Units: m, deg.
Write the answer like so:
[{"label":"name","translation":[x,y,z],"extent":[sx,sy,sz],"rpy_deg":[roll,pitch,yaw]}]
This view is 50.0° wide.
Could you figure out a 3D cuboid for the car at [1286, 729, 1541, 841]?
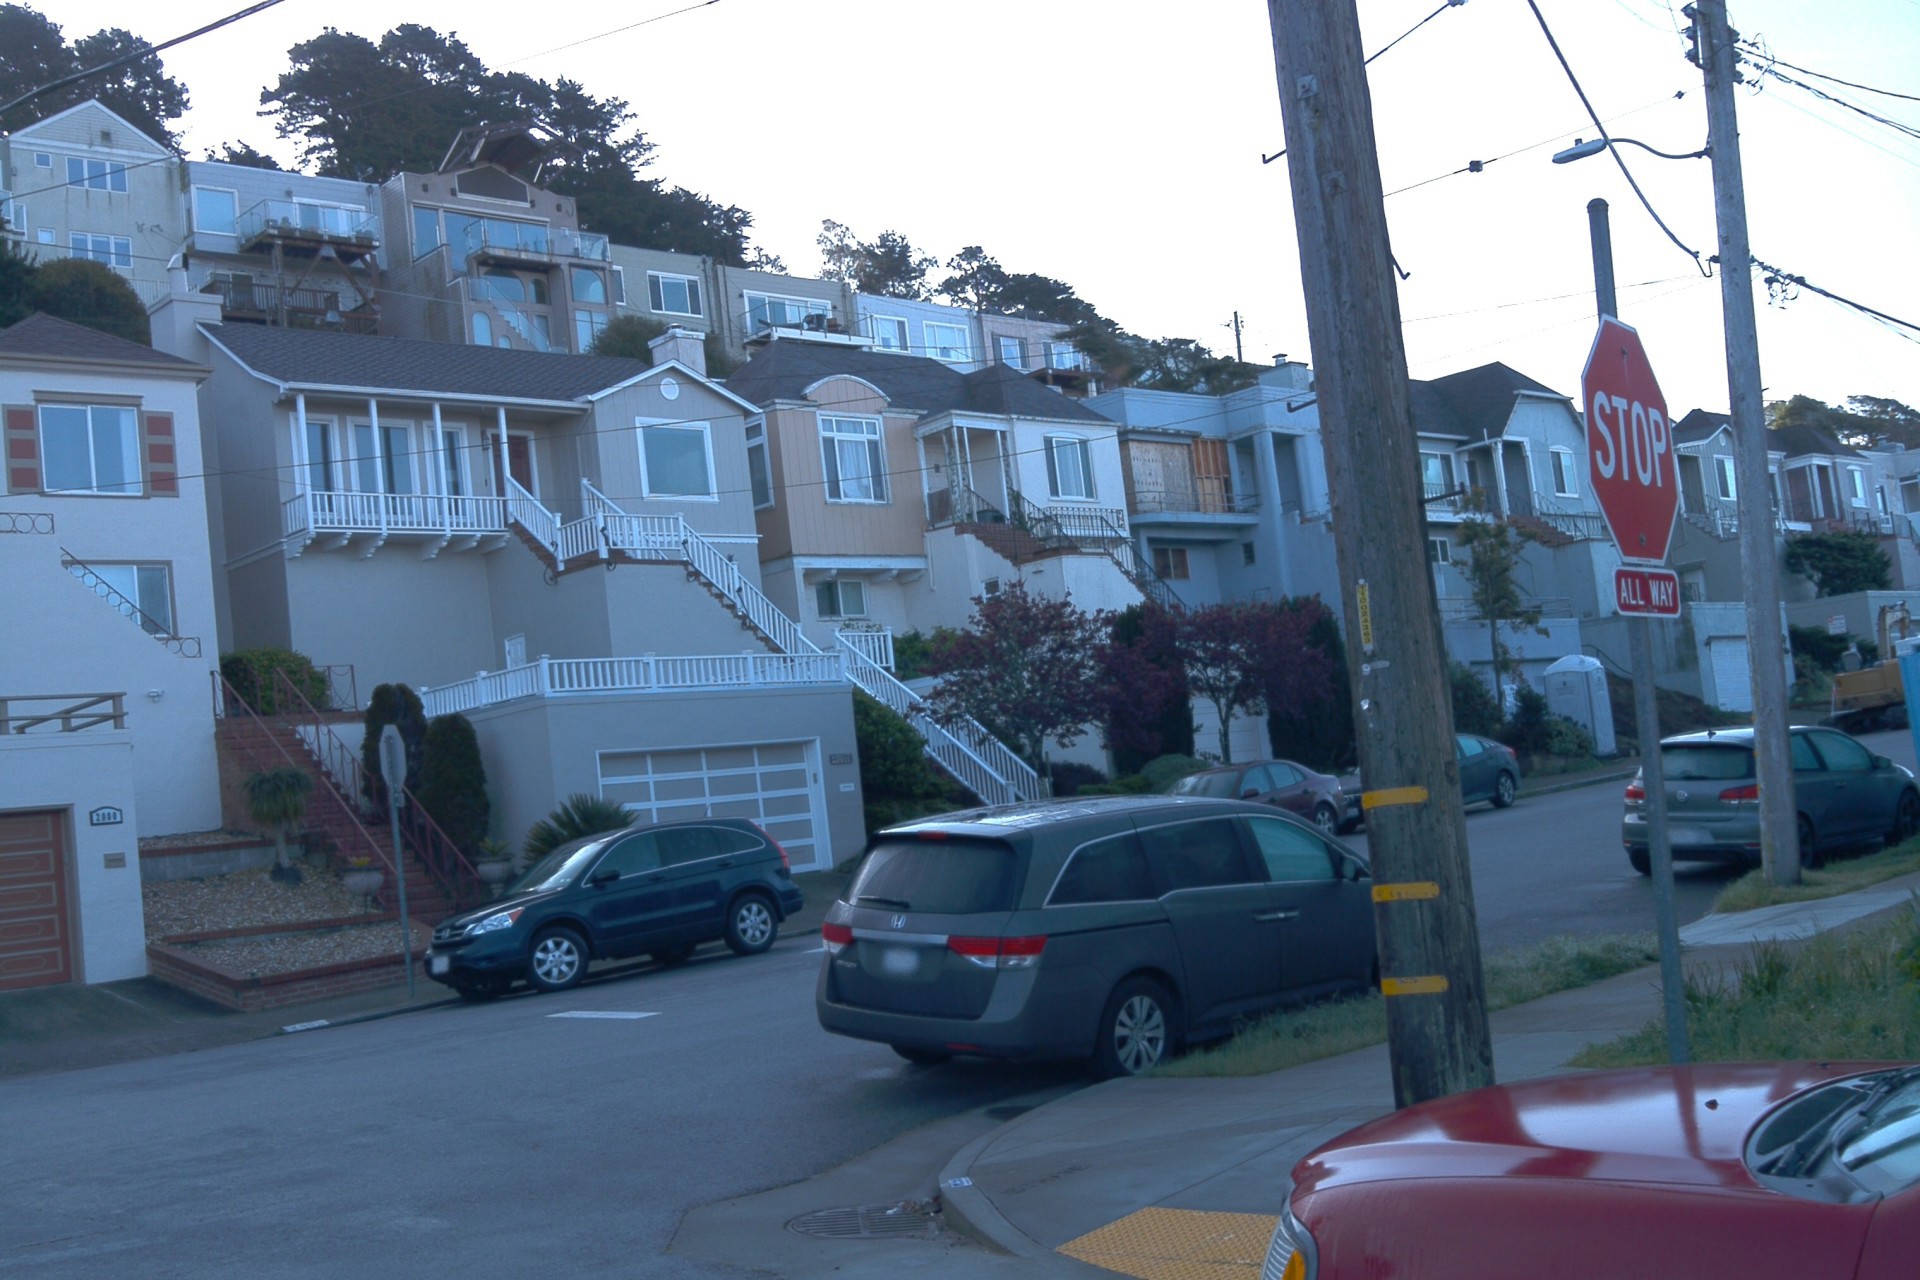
[{"label":"car","translation":[7.812,2.411,35.152],"extent":[2.163,1.560,4.754],"rpy_deg":[0,0,42]}]

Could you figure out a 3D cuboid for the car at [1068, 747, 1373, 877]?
[{"label":"car","translation":[4.018,2.526,31.185],"extent":[2.151,1.560,4.797],"rpy_deg":[0,0,43]}]

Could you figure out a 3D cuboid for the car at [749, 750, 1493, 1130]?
[{"label":"car","translation":[1.307,1.835,14.304],"extent":[2.390,1.860,5.188],"rpy_deg":[0,0,44]}]

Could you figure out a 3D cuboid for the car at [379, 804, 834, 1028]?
[{"label":"car","translation":[-3.940,3.015,23.471],"extent":[4.680,1.910,2.207],"rpy_deg":[0,0,-44]}]
